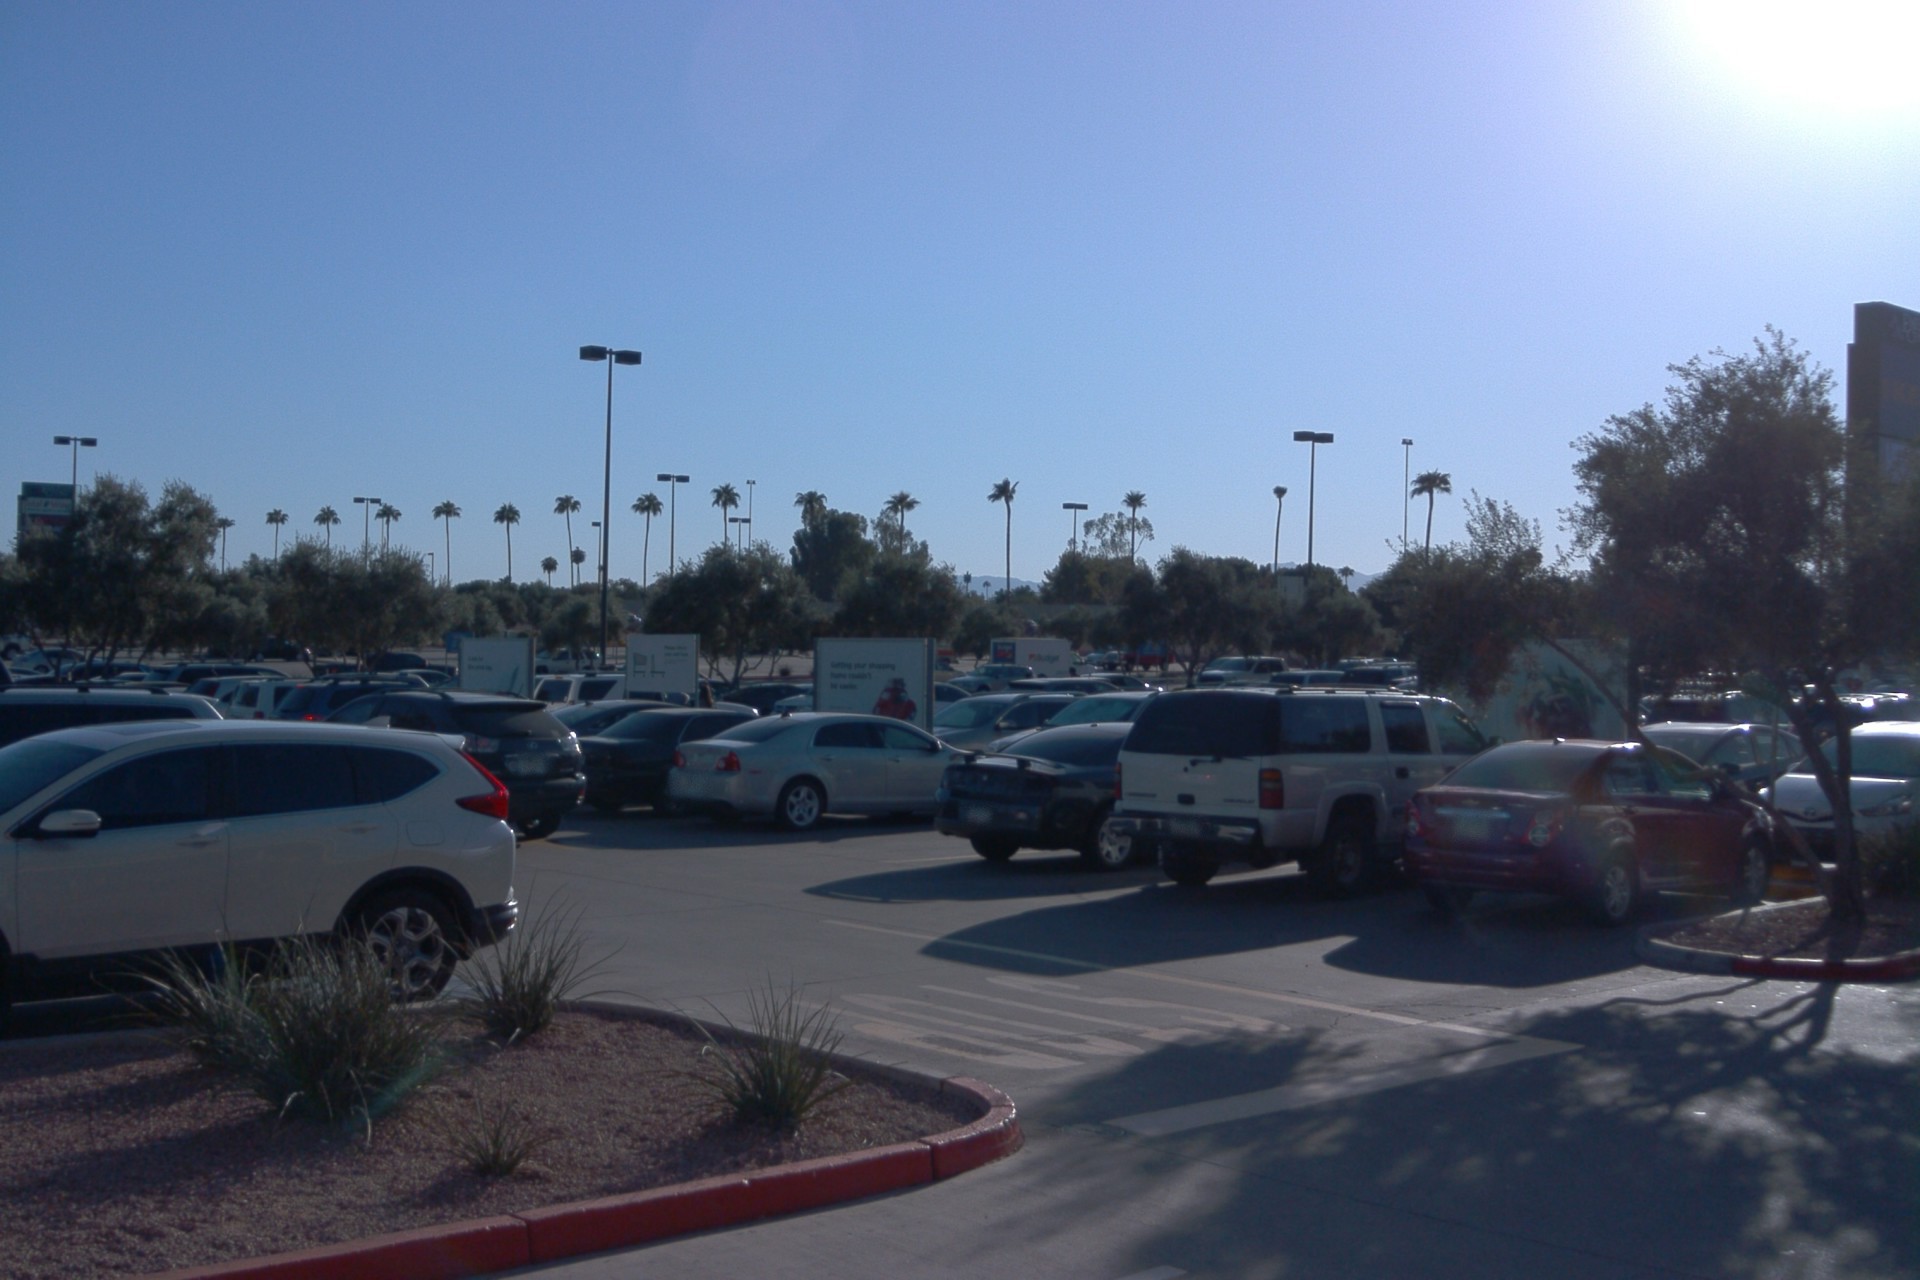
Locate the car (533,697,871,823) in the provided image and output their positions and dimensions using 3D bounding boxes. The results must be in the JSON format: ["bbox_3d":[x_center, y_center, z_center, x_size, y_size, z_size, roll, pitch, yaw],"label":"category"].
[{"bbox_3d":[-3.490,1.585,28.469,4.342,1.510,1.857,1,0,-42],"label":"car"}]

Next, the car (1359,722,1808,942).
[{"bbox_3d":[5.601,1.583,18.280,4.294,1.580,1.862,1,0,-42],"label":"car"}]

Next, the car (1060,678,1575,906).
[{"bbox_3d":[3.618,1.338,20.144,5.317,1.880,2.178,1,0,-43],"label":"car"}]

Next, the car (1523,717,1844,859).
[{"bbox_3d":[8.556,1.670,24.294,3.896,1.400,1.920,1,0,-42],"label":"car"}]

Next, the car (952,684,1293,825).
[{"bbox_3d":[2.457,1.604,30.414,4.865,1.830,2.266,1,0,-42],"label":"car"}]

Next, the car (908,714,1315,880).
[{"bbox_3d":[1.715,1.607,22.303,4.346,1.490,1.909,1,0,-42],"label":"car"}]

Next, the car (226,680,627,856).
[{"bbox_3d":[-6.299,1.407,24.195,4.564,1.770,2.205,0,0,38],"label":"car"}]

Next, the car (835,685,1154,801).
[{"bbox_3d":[0.611,1.551,32.451,4.796,1.600,2.186,1,0,-42],"label":"car"}]

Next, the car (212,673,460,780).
[{"bbox_3d":[-11.092,1.495,36.858,3.880,1.780,1.650,1,0,-42],"label":"car"}]

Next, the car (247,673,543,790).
[{"bbox_3d":[-9.368,1.463,34.430,4.348,1.780,1.923,1,0,-42],"label":"car"}]

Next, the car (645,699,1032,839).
[{"bbox_3d":[-1.499,1.594,26.746,4.773,1.560,1.931,1,0,-40],"label":"car"}]

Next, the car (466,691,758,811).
[{"bbox_3d":[-5.148,1.598,30.833,3.883,1.600,1.876,1,0,-42],"label":"car"}]
